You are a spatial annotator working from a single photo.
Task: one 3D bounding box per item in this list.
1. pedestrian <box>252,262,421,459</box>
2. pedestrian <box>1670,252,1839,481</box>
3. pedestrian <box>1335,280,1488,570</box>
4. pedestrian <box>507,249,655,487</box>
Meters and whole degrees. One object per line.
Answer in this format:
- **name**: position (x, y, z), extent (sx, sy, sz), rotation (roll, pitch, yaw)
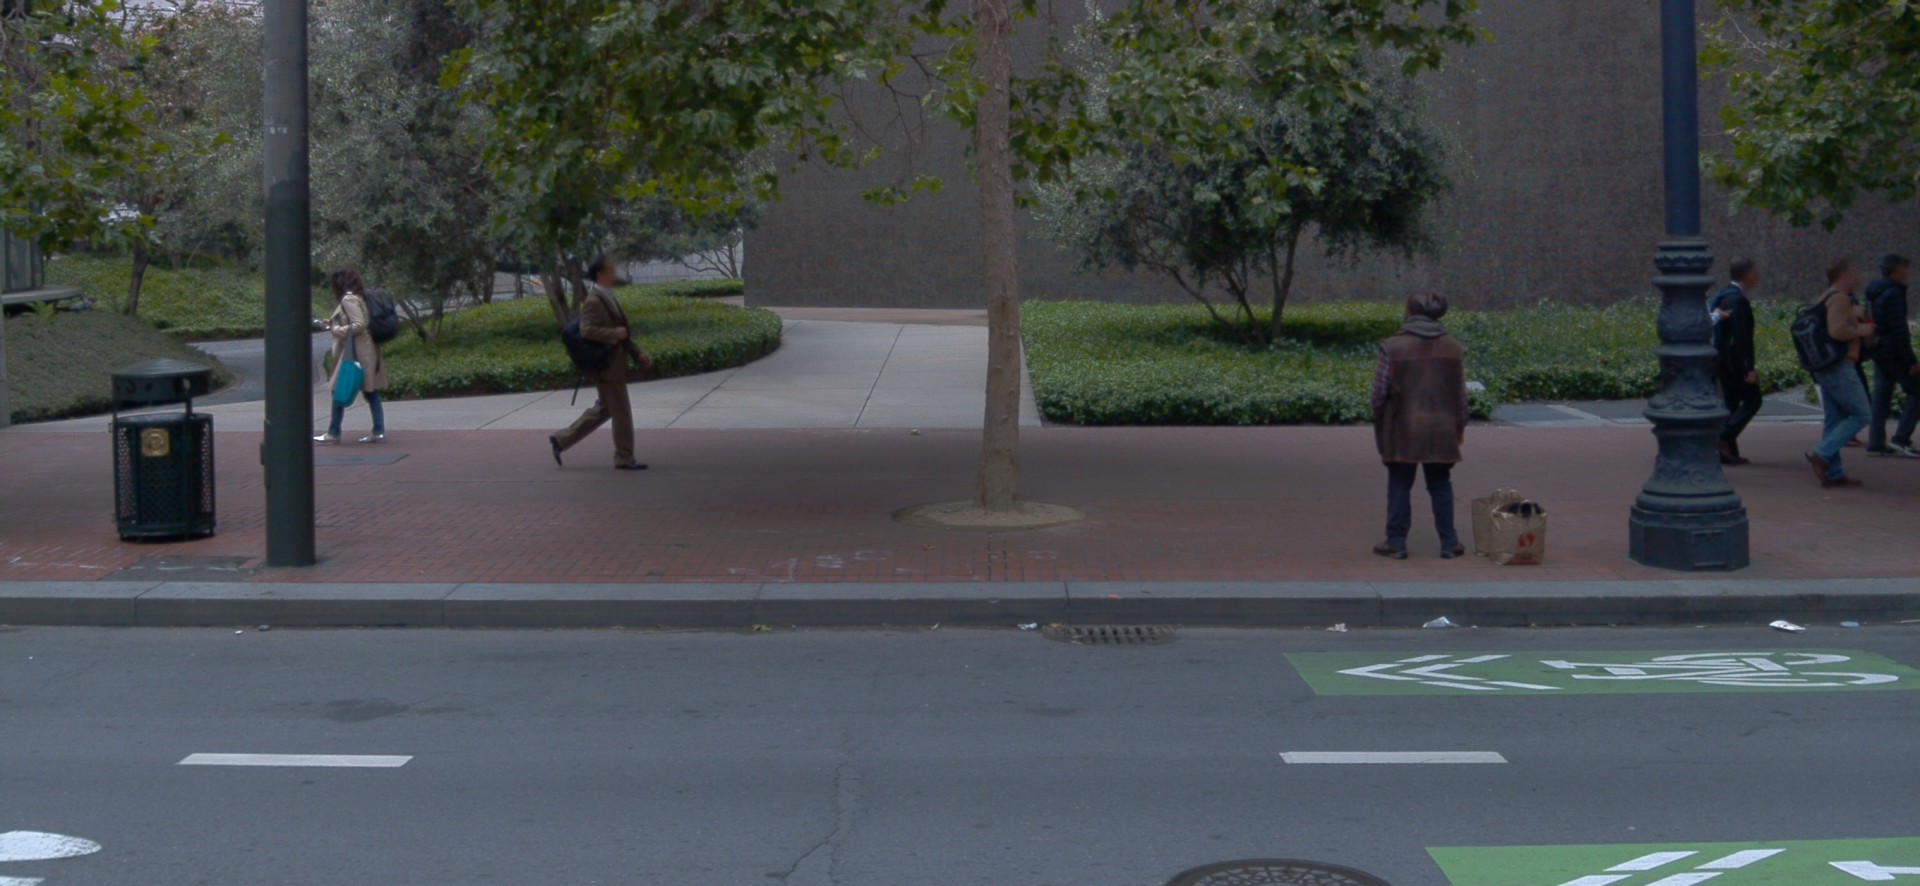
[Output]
- **pedestrian**: position (-5.621, -0.770, 18.745), extent (1.145, 1.697, 1.149), rotation (0, 3, 3)
- **pedestrian**: position (6.472, -0.651, 16.914), extent (1.013, 1.797, 0.887), rotation (0, 2, -2)
- **pedestrian**: position (2.841, -0.138, 13.081), extent (0.791, 1.757, 0.642), rotation (0, 2, -5)
- **pedestrian**: position (-3.101, -0.650, 17.061), extent (1.098, 1.877, 1.032), rotation (0, 2, -5)
